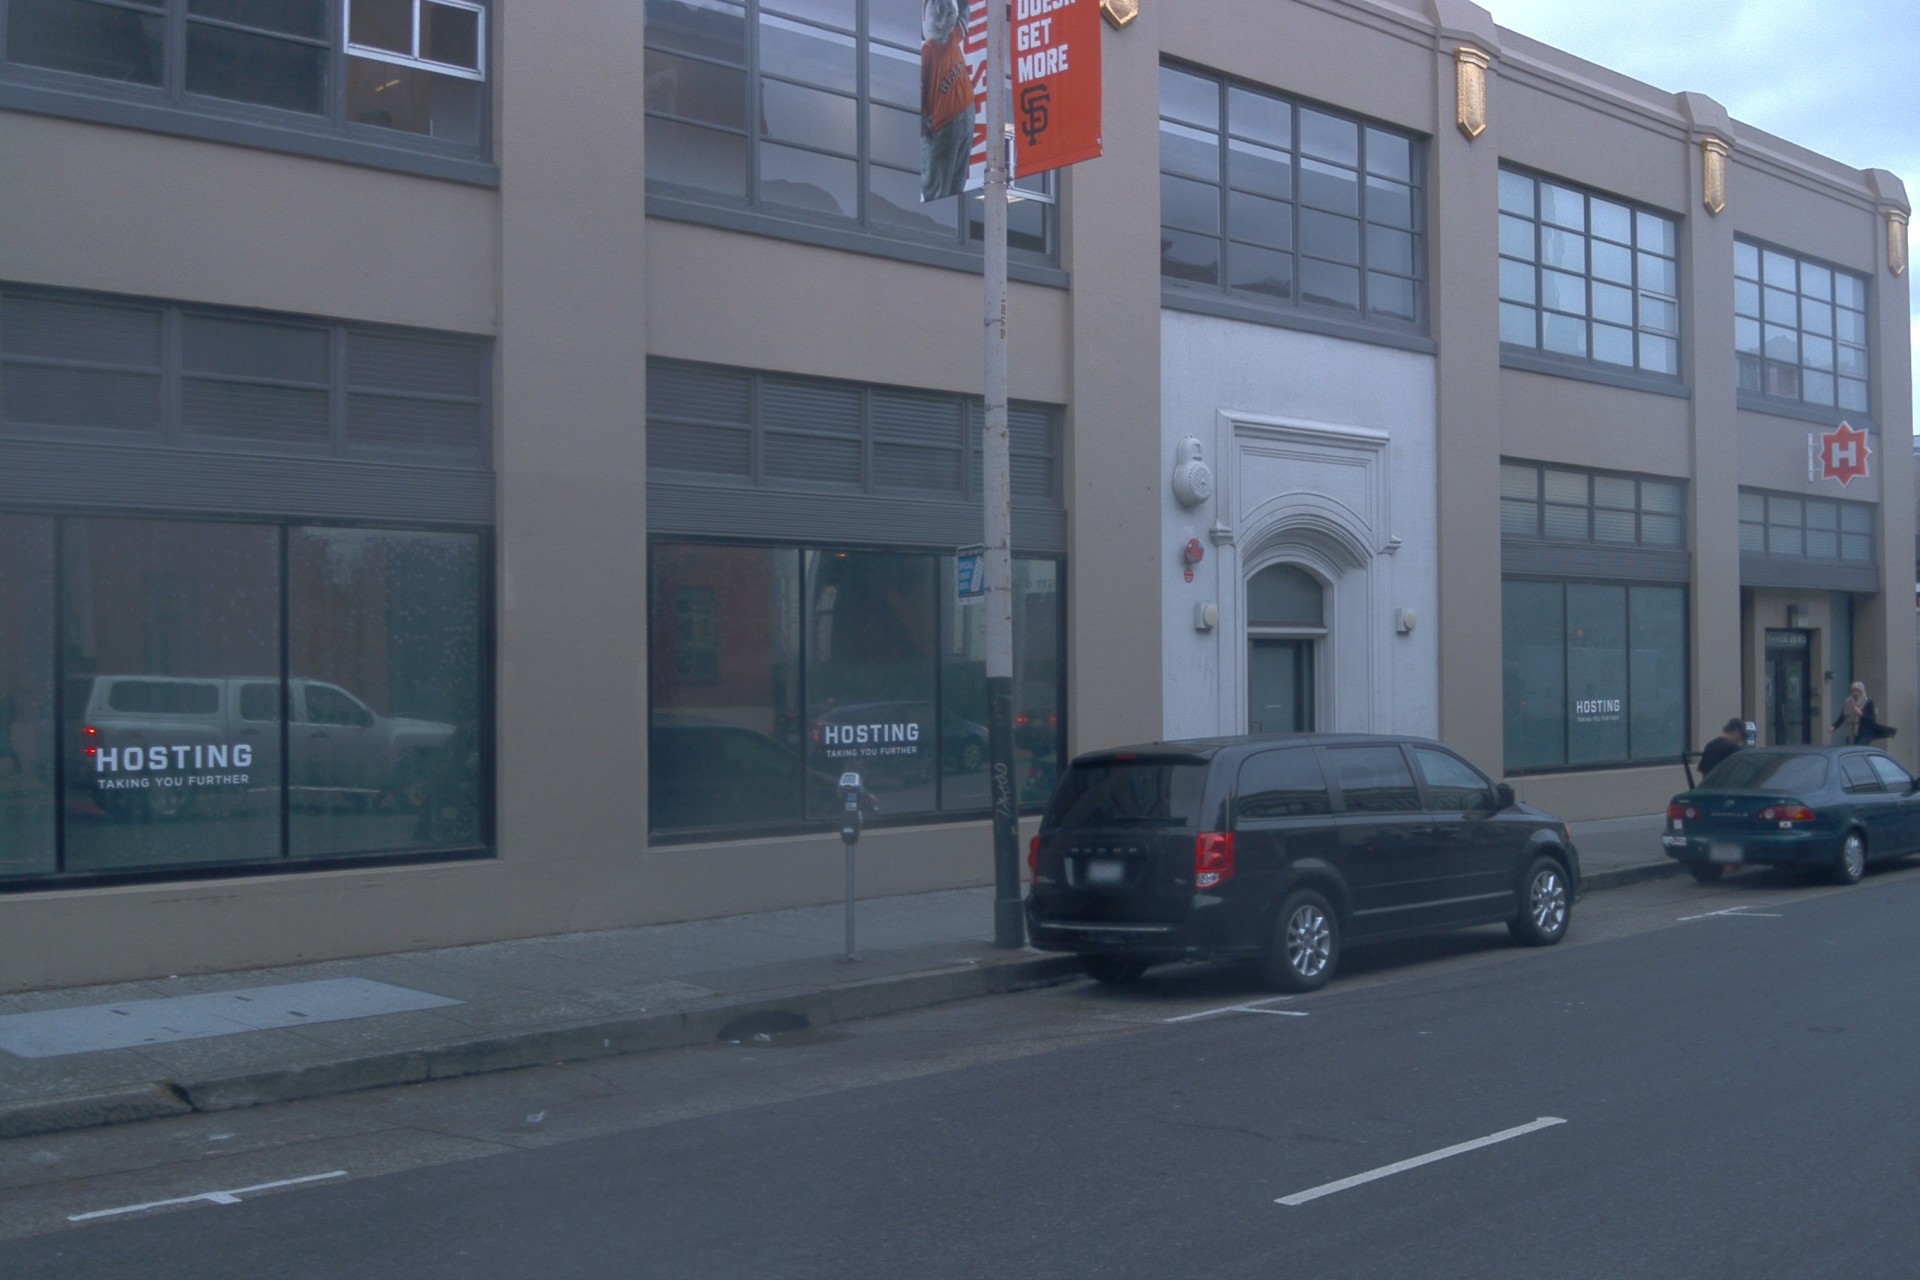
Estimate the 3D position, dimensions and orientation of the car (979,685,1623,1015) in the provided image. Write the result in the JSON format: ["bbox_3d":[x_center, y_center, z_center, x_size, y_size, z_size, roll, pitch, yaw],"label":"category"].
[{"bbox_3d":[2.705,1.365,15.532,5.129,1.960,2.084,0,0,-44],"label":"car"}]

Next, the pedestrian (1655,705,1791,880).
[{"bbox_3d":[8.158,1.605,22.278,0.859,1.767,1.106,0,0,-21],"label":"pedestrian"}]

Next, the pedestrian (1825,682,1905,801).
[{"bbox_3d":[13.593,1.507,31.224,0.852,1.740,0.841,0,0,-44],"label":"pedestrian"}]
